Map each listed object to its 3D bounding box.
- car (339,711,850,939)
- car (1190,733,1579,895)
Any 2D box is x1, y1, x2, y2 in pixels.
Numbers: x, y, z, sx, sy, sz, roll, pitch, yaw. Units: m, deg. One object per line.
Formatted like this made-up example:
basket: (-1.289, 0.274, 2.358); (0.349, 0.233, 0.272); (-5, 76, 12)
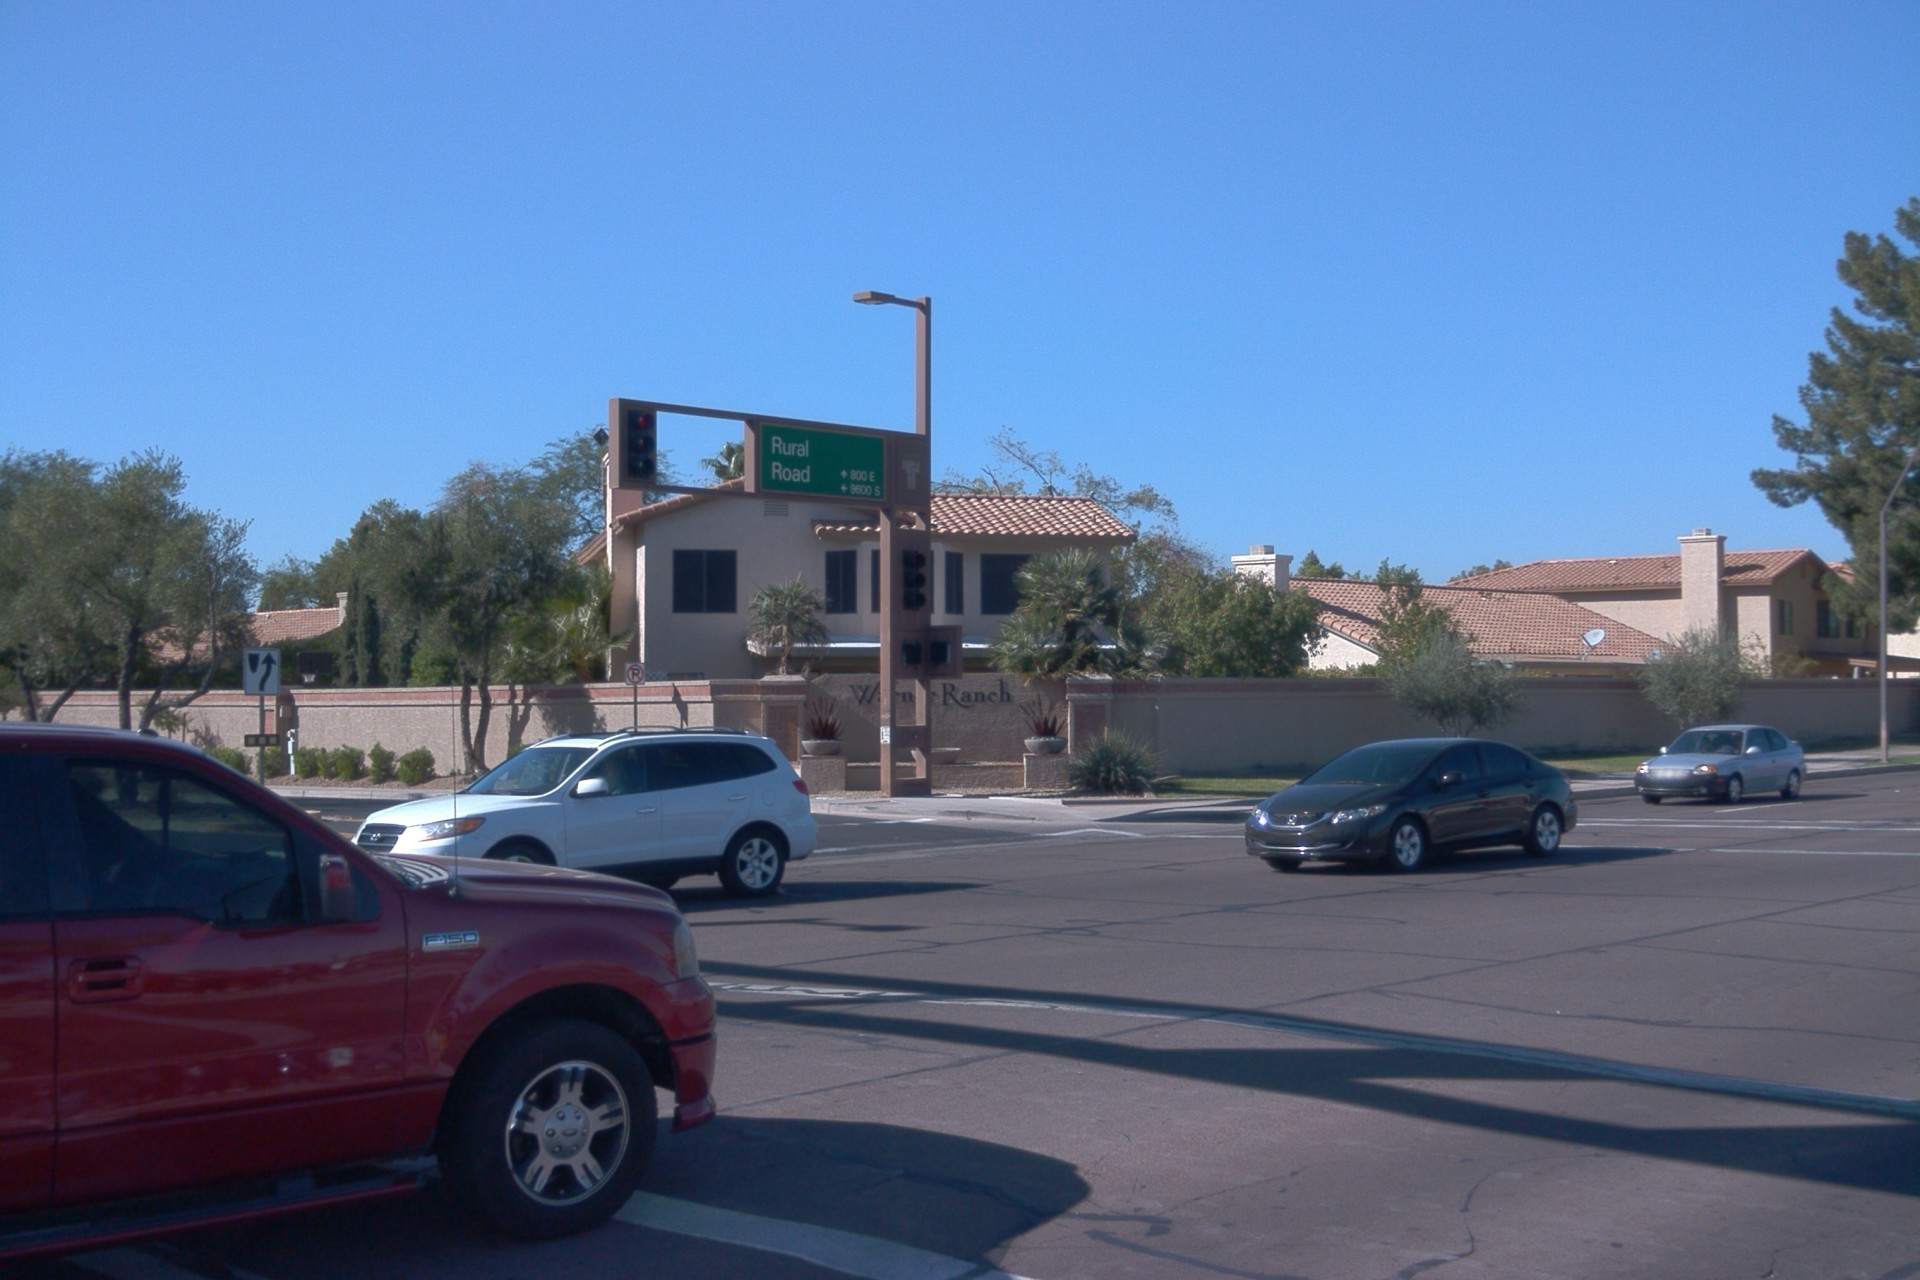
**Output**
car: (-3.556, 1.724, 20.846); (4.599, 1.880, 2.171); (1, 0, -44)
car: (4.851, 1.870, 23.412); (4.492, 1.470, 2.060); (1, 0, -43)
